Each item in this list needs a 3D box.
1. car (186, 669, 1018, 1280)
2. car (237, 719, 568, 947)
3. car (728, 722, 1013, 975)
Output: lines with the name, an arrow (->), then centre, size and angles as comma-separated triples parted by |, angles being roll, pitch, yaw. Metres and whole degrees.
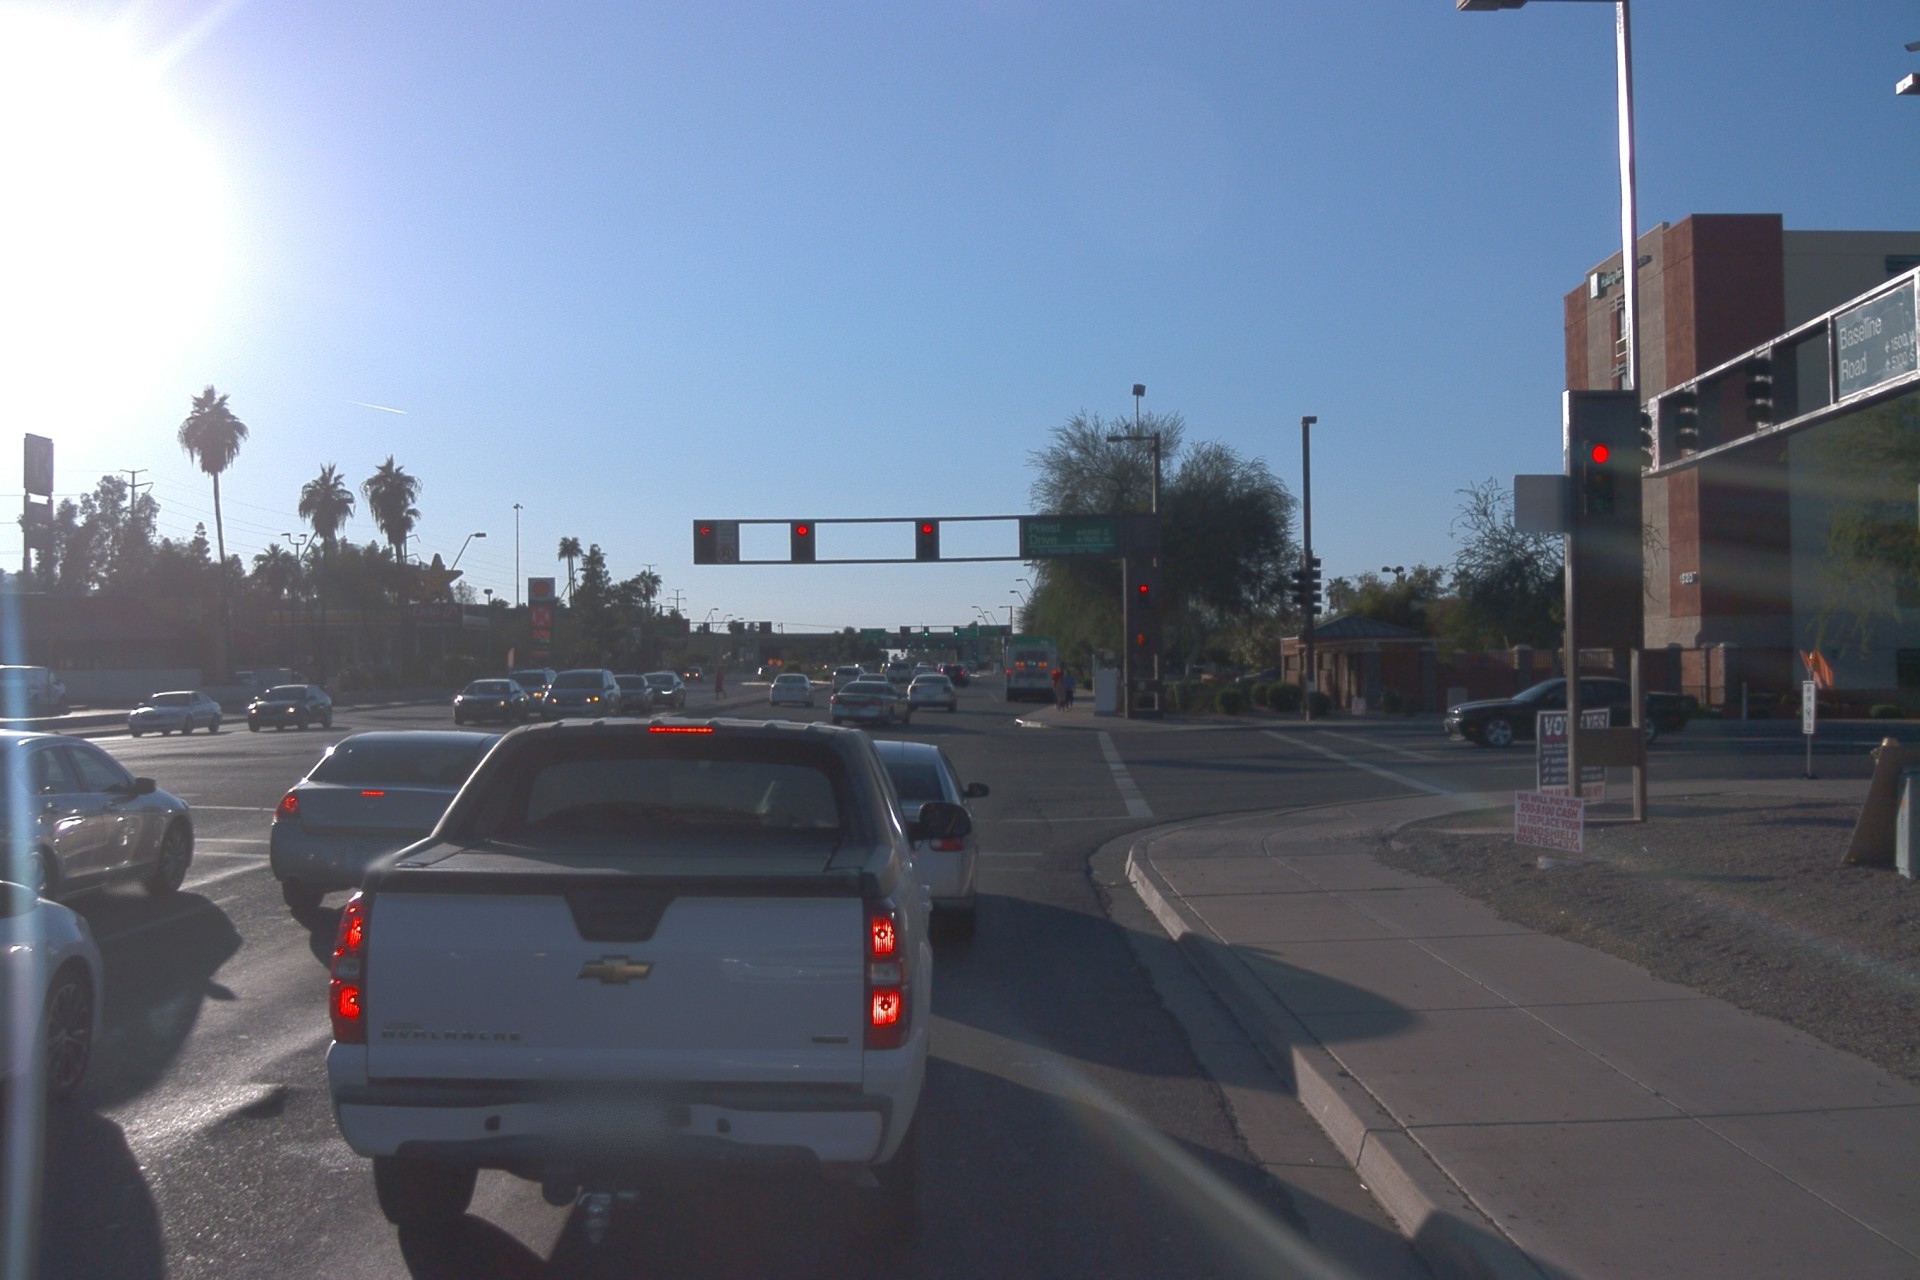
car -> -1.141, 1.201, 8.971 | 2.477, 2.120, 5.357 | 1, -1, -1
car -> -4.601, 1.540, 17.758 | 1.769, 1.630, 3.866 | 1, -1, 0
car -> -0.704, 1.593, 17.319 | 2.031, 1.680, 4.704 | 1, -1, -1
